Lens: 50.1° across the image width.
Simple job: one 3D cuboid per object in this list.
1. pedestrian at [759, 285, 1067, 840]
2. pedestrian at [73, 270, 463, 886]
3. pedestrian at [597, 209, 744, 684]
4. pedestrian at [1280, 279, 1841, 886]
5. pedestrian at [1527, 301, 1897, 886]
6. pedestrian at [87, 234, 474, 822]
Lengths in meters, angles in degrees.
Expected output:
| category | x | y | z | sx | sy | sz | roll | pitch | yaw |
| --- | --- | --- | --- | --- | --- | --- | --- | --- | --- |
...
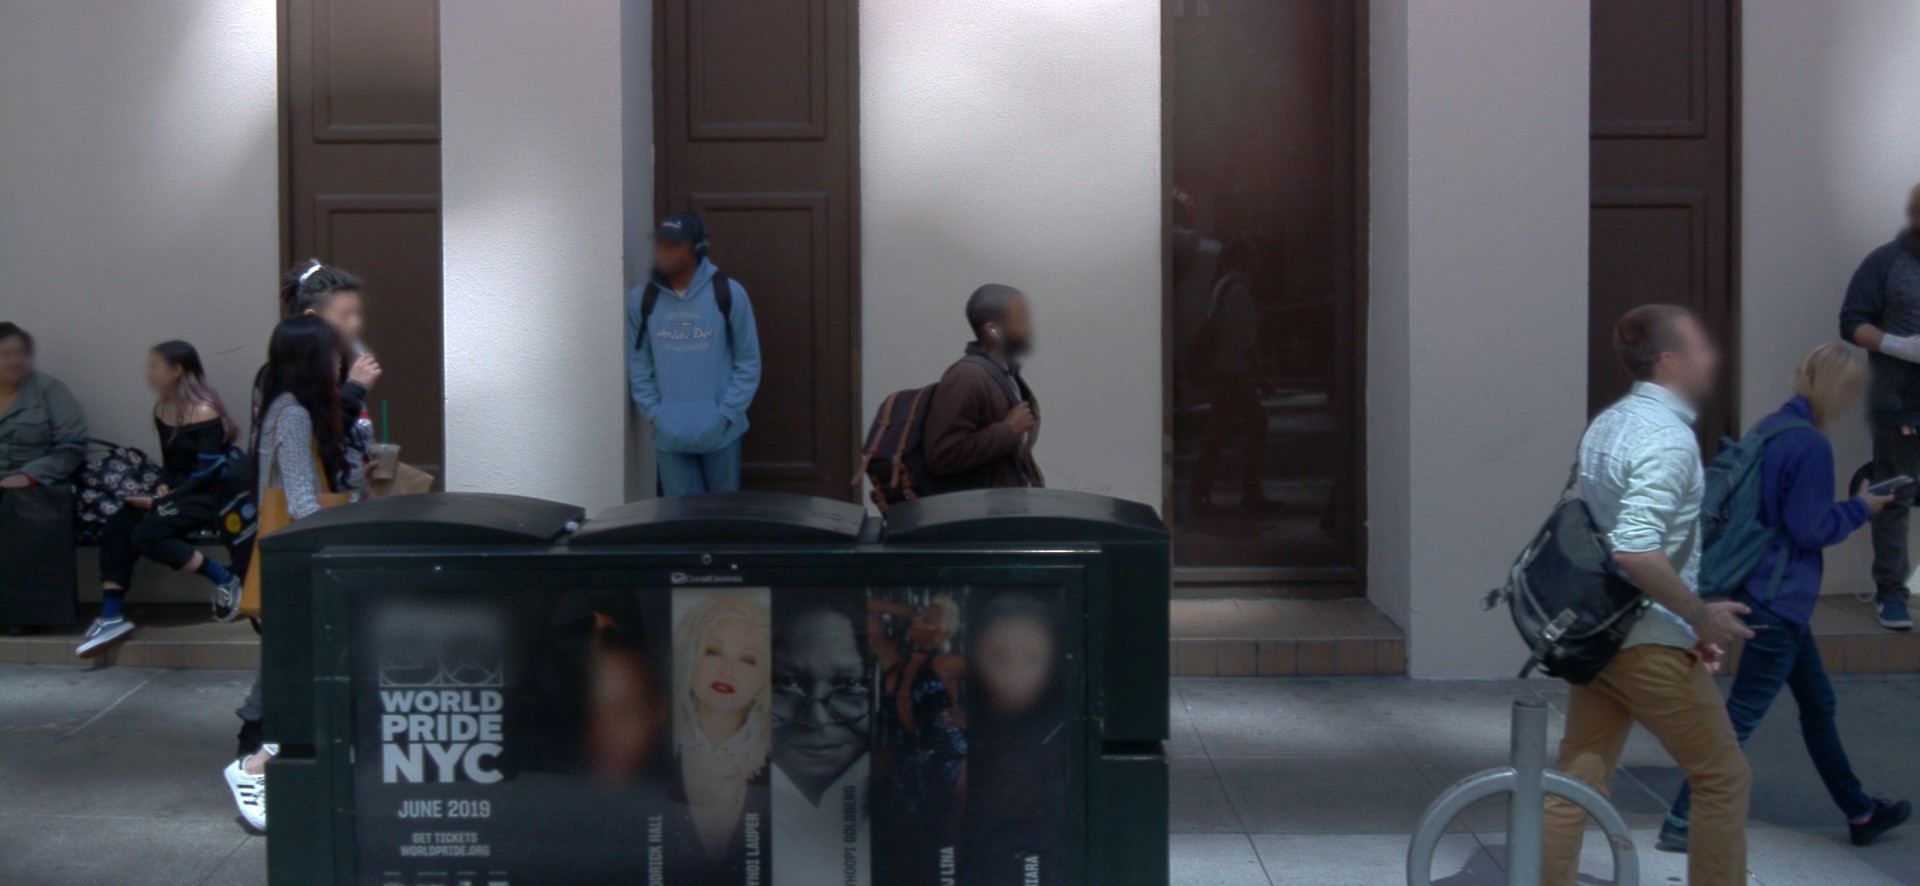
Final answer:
| category | x | y | z | sx | sy | sz | roll | pitch | yaw |
| --- | --- | --- | --- | --- | --- | --- | --- | --- | --- |
| pedestrian | -0.130 | 0.341 | 6.982 | 0.942 | 1.735 | 0.865 | 0 | 1 | 6 |
| pedestrian | -2.131 | 0.366 | 6.449 | 0.992 | 1.805 | 0.783 | 0 | 1 | -4 |
| pedestrian | -1.189 | -0.015 | 8.520 | 0.538 | 1.902 | 0.554 | 0 | 1 | -1 |
| pedestrian | 1.495 | 0.509 | 5.320 | 1.186 | 1.845 | 0.899 | 0 | 1 | -1 |
| pedestrian | 2.291 | 0.439 | 6.355 | 0.894 | 1.735 | 0.741 | 0 | 1 | 2 |
| pedestrian | -2.305 | 0.232 | 7.102 | 1.031 | 1.905 | 0.896 | 0 | 1 | 0 |
